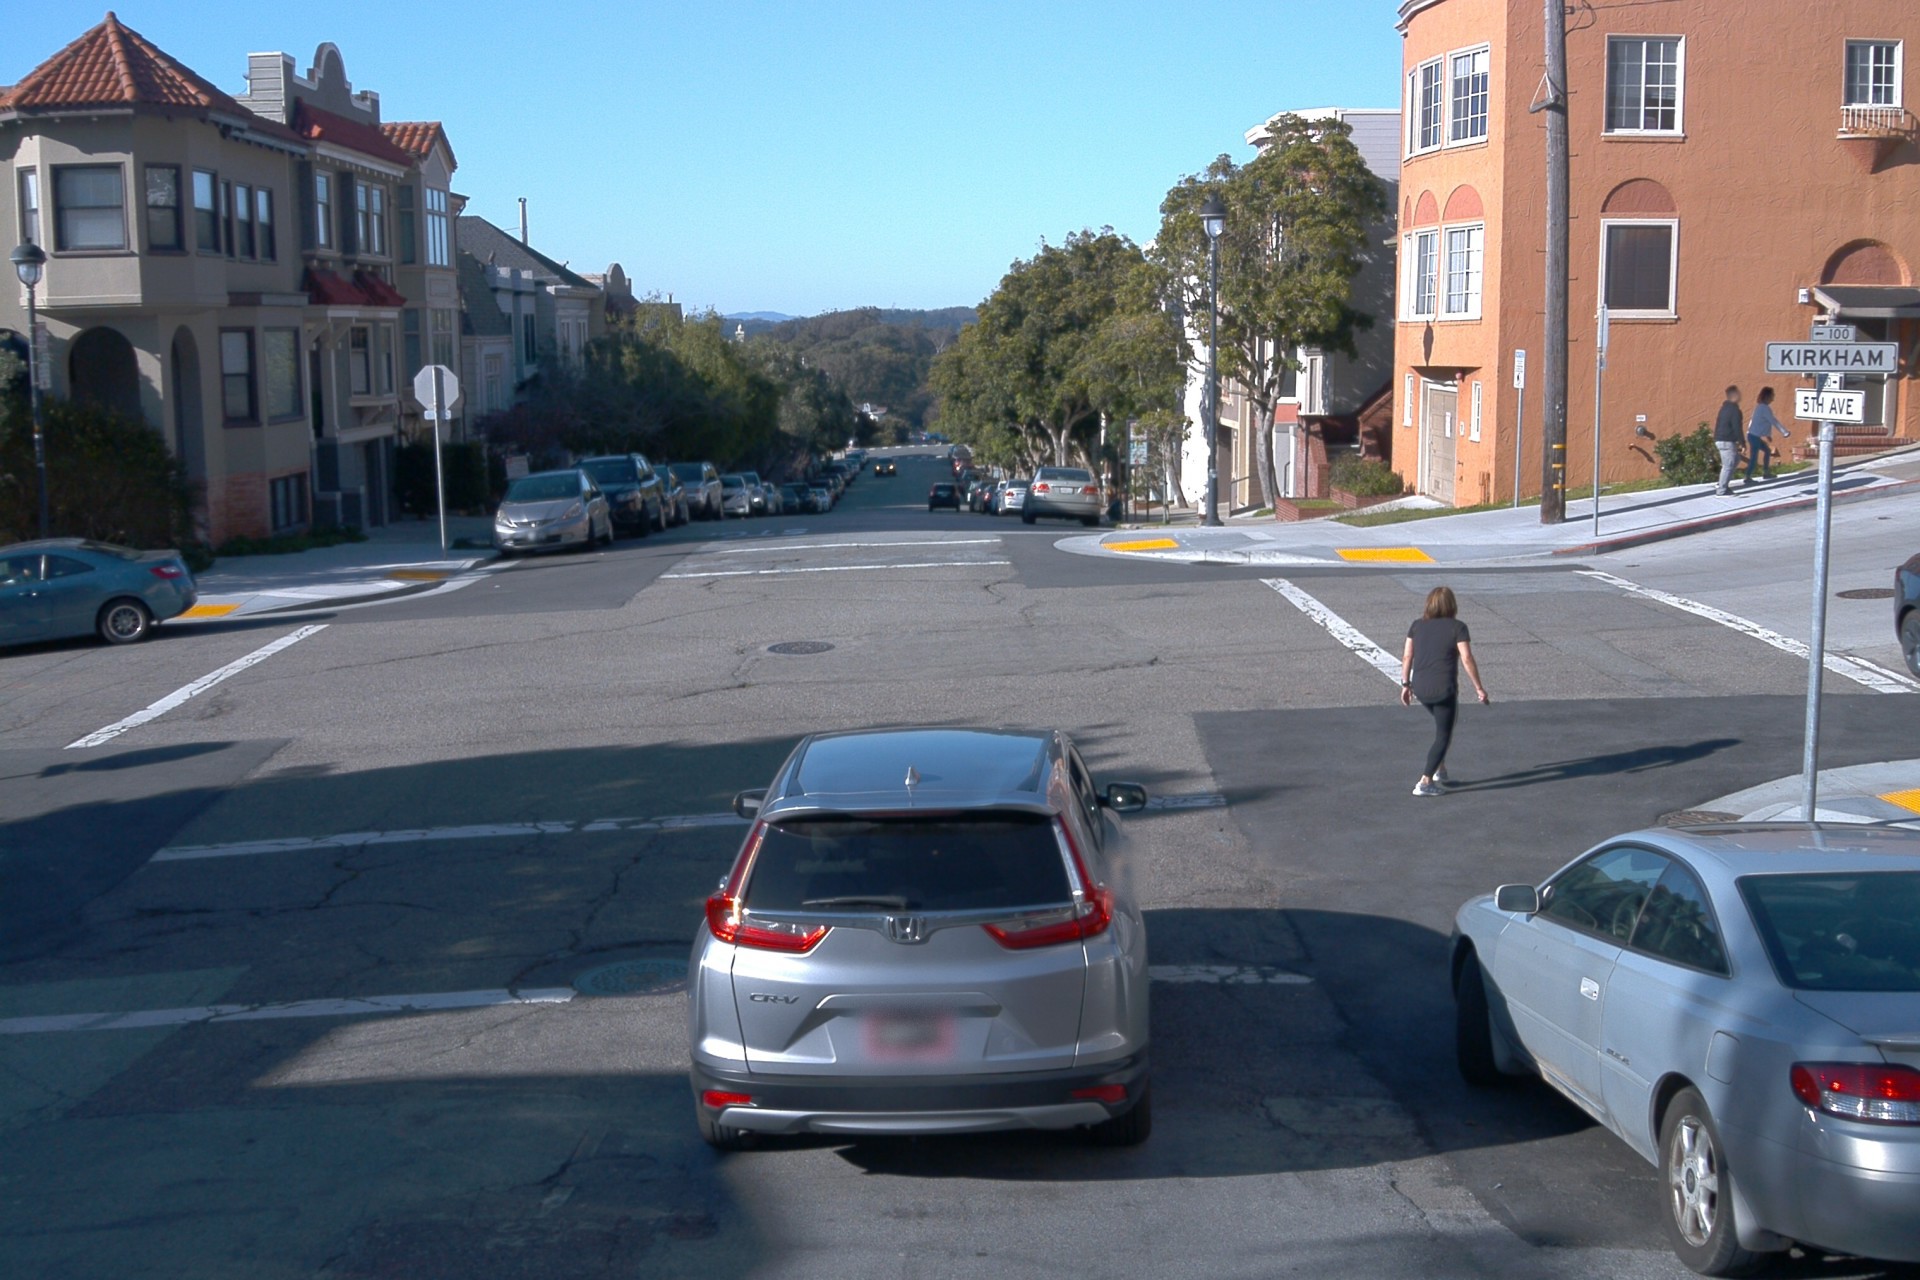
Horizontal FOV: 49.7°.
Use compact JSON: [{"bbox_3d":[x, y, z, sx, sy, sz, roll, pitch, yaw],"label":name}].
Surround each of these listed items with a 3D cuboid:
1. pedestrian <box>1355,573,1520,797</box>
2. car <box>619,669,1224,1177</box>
[{"bbox_3d":[3.619,0.328,15.669,0.731,1.620,1.127,0,0,45],"label":"pedestrian"},{"bbox_3d":[-0.164,1.058,9.852,2.191,1.800,4.695,0,0,-1],"label":"car"}]
